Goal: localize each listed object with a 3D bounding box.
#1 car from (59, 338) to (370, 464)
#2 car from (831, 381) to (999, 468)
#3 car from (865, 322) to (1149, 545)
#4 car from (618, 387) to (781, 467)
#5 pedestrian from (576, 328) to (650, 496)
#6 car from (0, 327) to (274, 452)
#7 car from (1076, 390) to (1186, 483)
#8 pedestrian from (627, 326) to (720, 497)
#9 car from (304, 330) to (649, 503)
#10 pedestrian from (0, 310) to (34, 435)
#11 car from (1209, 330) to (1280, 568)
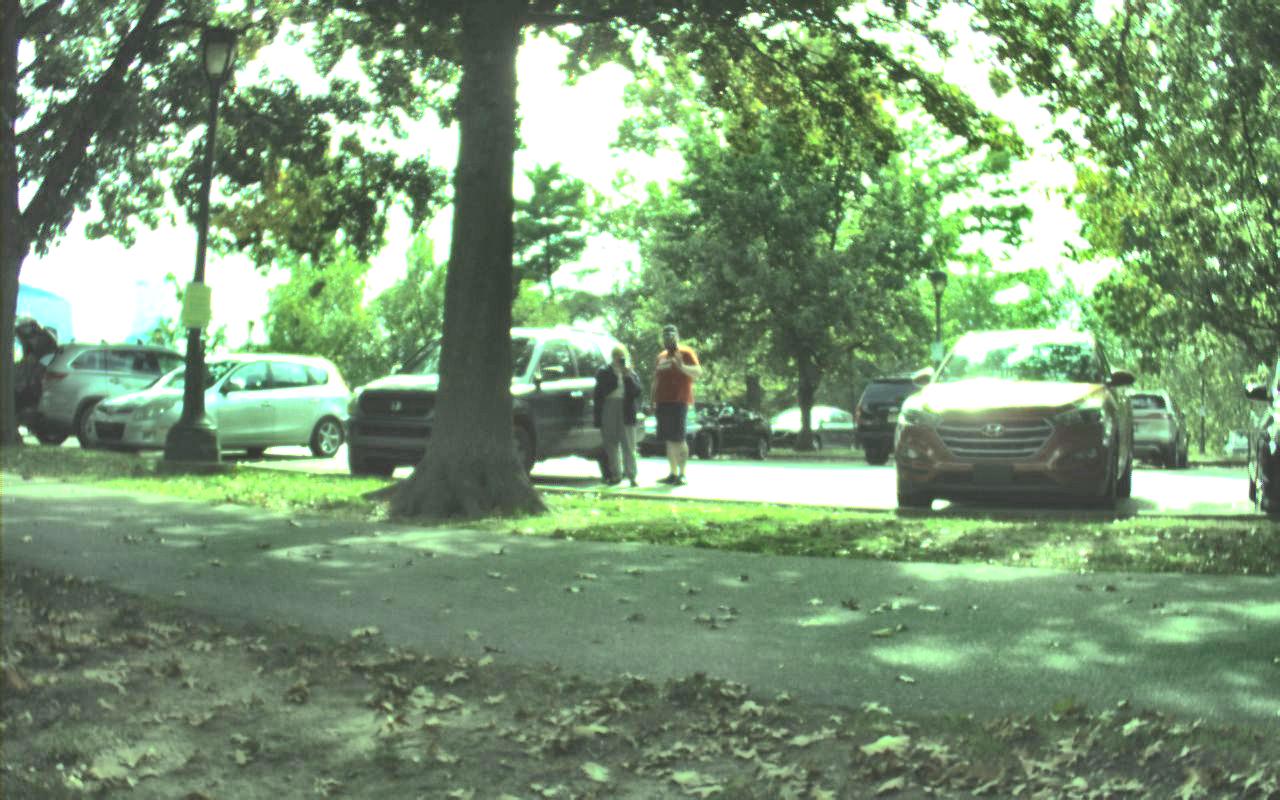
[{"bbox_3d":[-6.065,-0.018,17.273,1.924,1.590,4.517,1,1,31],"label":"car"},{"bbox_3d":[6.081,0.461,26.996,1.975,1.697,4.551,1,1,37],"label":"car"},{"bbox_3d":[3.582,0.201,11.109,1.964,1.629,4.493,1,1,26],"label":"car"},{"bbox_3d":[1.485,0.550,29.694,1.921,1.661,4.473,1,1,31],"label":"car"},{"bbox_3d":[-0.311,0.125,14.036,0.774,1.815,0.756,0,0,-5],"label":"pedestrian"},{"bbox_3d":[-8.239,-0.150,18.884,1.982,1.827,4.573,1,1,40],"label":"car"},{"bbox_3d":[10.280,0.712,24.675,1.968,1.688,4.486,1,1,28],"label":"car"},{"bbox_3d":[0.384,0.111,14.386,0.766,1.869,0.759,1,0,31],"label":"pedestrian"},{"bbox_3d":[-1.665,0.102,14.179,1.960,1.620,4.454,1,1,23],"label":"car"},{"bbox_3d":[-9.896,-0.373,17.275,0.968,1.880,0.890,0,0,-37],"label":"pedestrian"},{"bbox_3d":[6.001,0.320,9.253,1.947,1.595,4.472,1,1,34],"label":"car"}]
